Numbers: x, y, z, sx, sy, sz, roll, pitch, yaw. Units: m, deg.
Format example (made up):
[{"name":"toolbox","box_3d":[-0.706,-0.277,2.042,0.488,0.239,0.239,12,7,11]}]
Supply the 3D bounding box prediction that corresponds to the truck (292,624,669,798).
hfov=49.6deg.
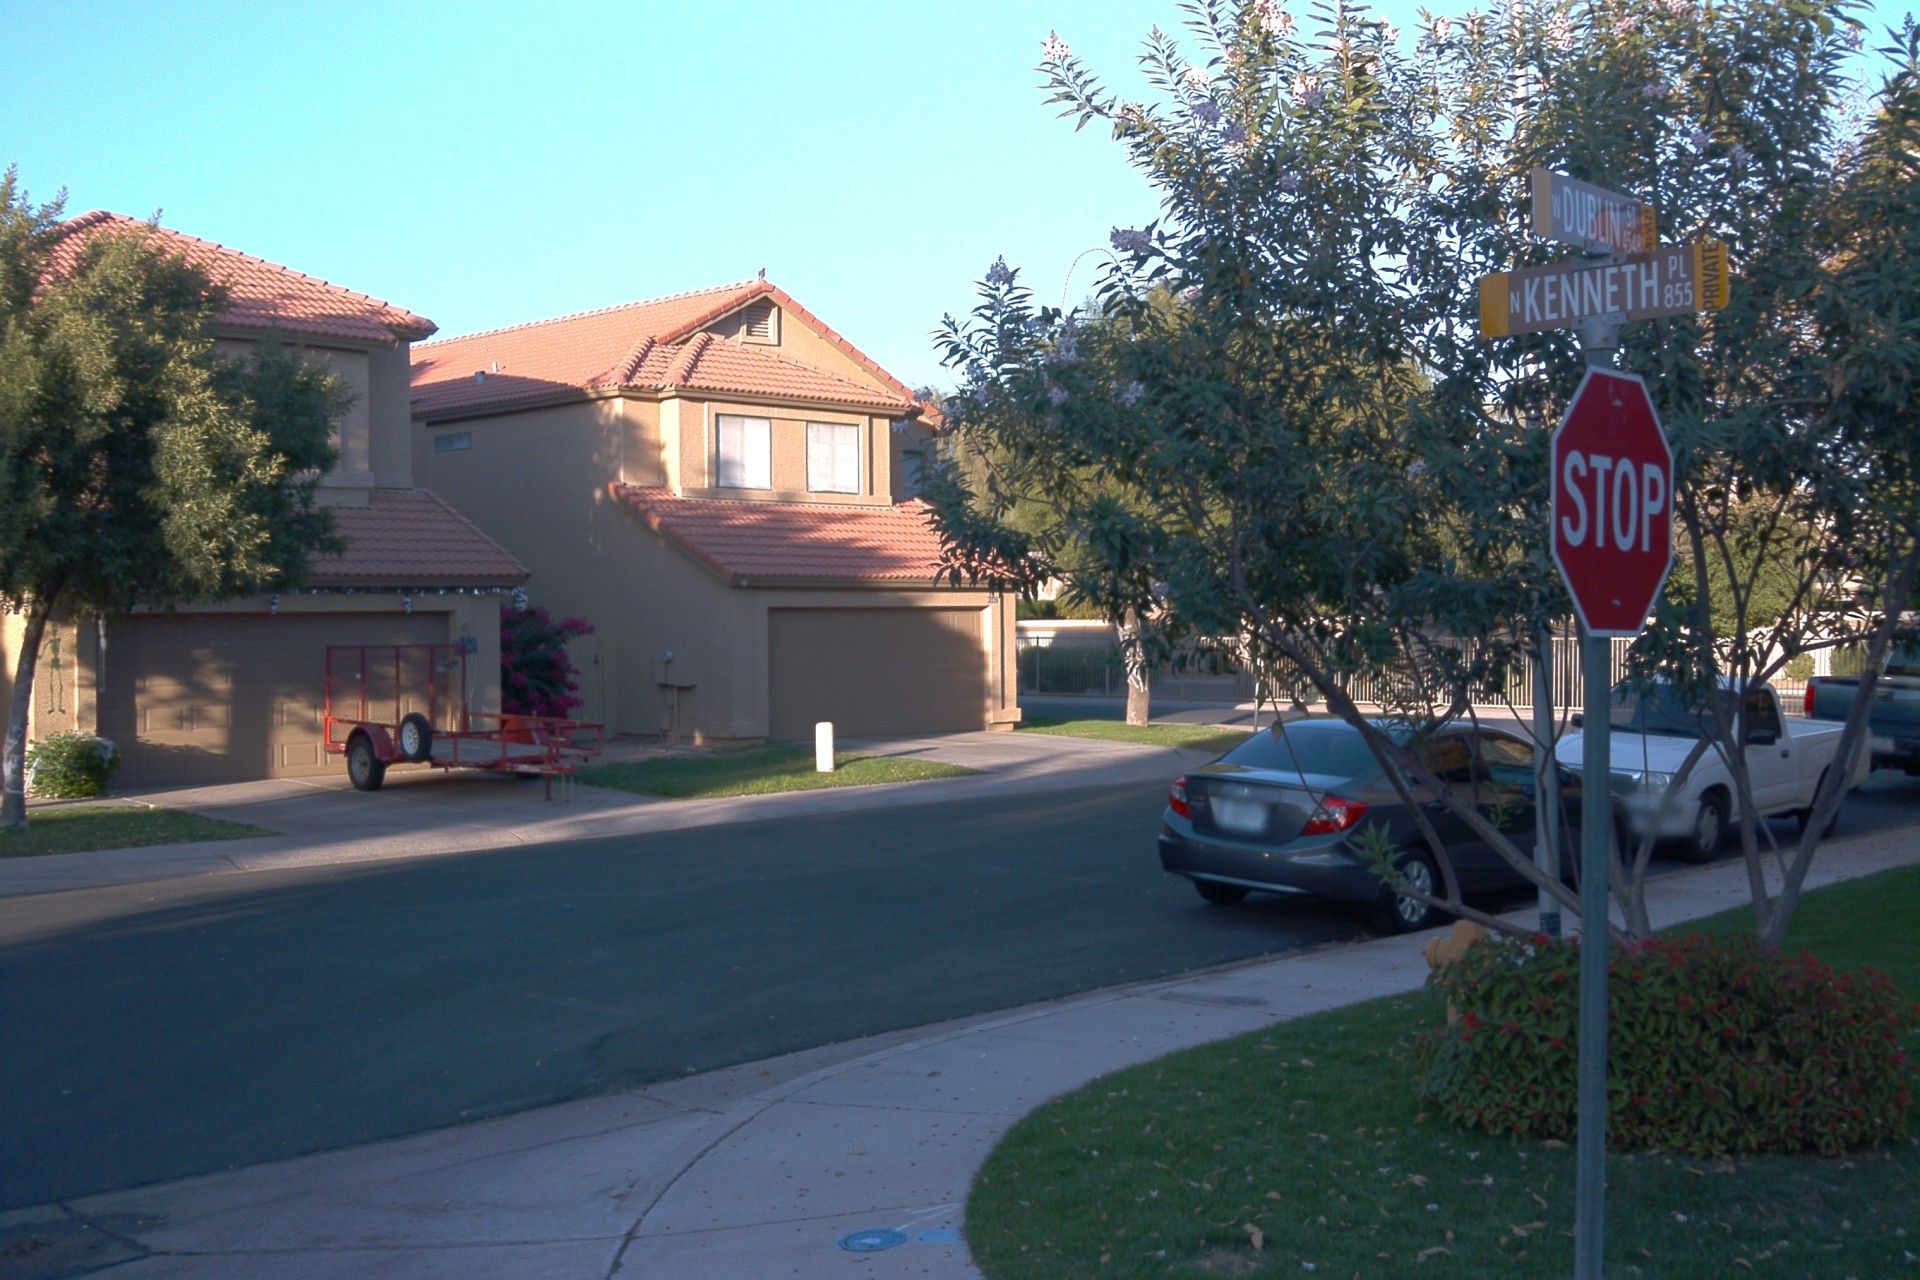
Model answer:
[{"name":"truck","box_3d":[-5.889,0.799,25.234,2.622,1.900,4.348,1,-1,-43]}]

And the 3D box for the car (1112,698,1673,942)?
[{"name":"car","box_3d":[3.366,1.215,15.594,2.054,1.470,4.462,0,-1,44]}]

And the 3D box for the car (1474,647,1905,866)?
[{"name":"car","box_3d":[6.954,0.982,19.517,2.021,1.800,4.702,0,-1,44]}]
